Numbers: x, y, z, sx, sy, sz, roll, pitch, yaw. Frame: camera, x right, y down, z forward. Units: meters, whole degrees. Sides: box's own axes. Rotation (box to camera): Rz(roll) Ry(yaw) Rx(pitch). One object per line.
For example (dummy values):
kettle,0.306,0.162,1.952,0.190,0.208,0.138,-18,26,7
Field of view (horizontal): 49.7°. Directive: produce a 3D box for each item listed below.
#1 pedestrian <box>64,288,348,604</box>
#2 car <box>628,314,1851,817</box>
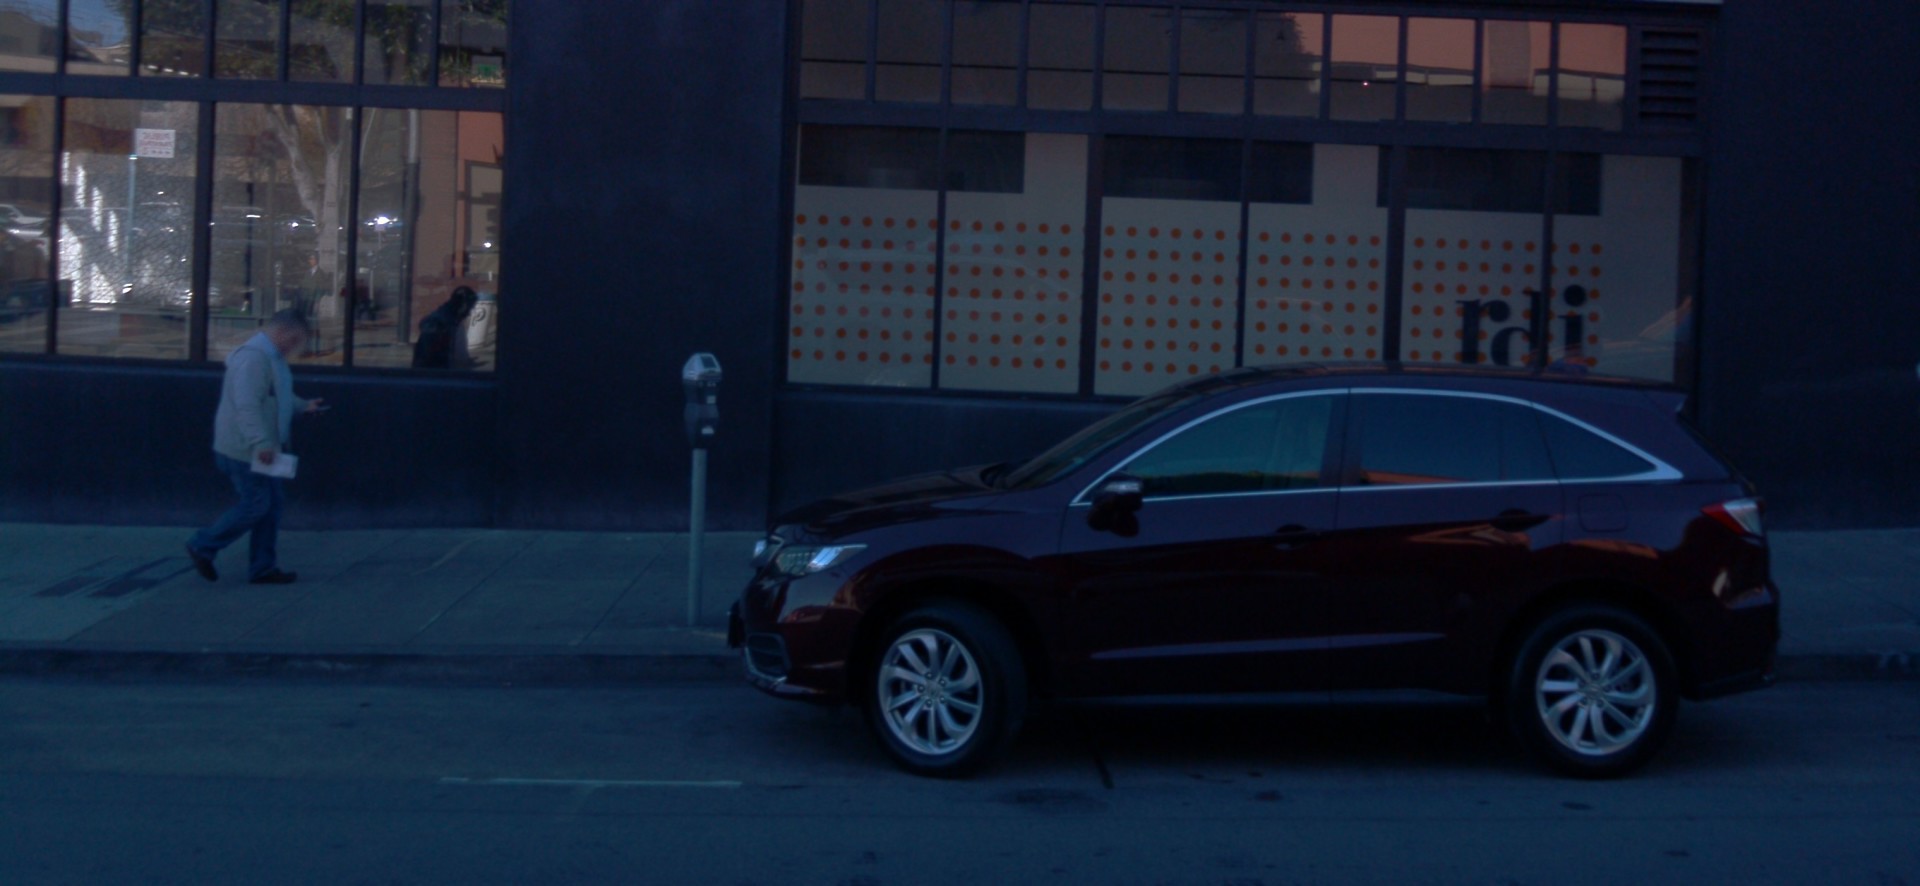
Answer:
pedestrian,-4.272,-0.021,11.850,1.239,1.688,1.054,0,2,0
car,1.088,0.401,9.119,4.703,1.815,2.234,0,4,1
